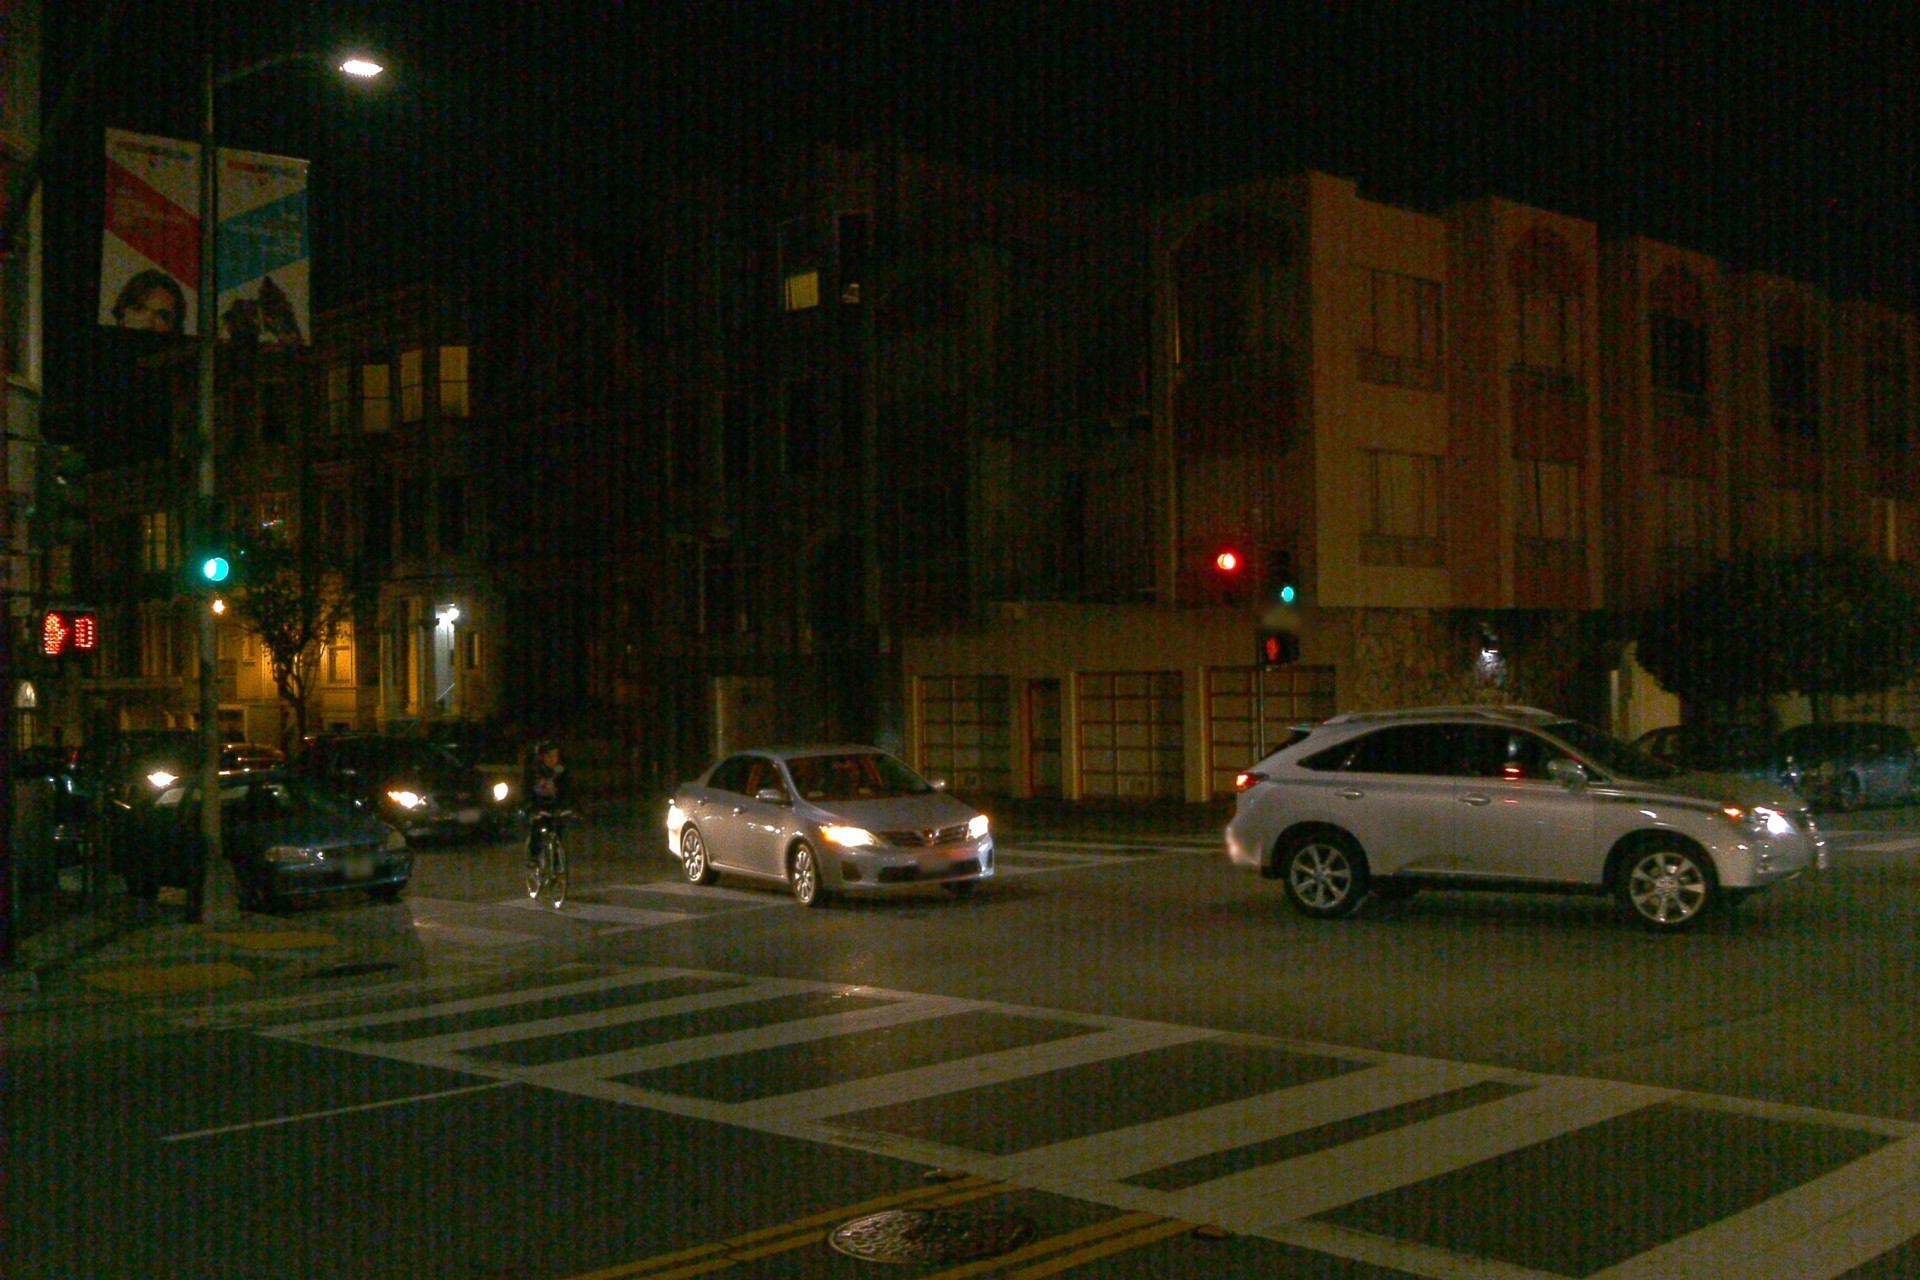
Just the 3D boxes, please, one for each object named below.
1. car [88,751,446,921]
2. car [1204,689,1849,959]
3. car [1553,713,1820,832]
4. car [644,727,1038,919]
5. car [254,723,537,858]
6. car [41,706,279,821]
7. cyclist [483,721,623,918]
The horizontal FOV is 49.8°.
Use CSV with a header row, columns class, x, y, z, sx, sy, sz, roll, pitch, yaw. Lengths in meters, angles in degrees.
class,x,y,z,sx,sy,sz,roll,pitch,yaw
car,-7.499,2.014,22.147,1.946,1.350,4.278,1,0,-44
car,4.586,1.367,16.941,4.618,1.760,2.137,1,0,33
car,10.607,1.860,29.967,1.967,1.430,4.633,1,0,42
car,-1.324,1.717,20.648,2.122,1.450,4.466,1,0,-30
car,-7.895,2.006,28.634,2.021,1.480,4.495,1,0,-41
car,-13.224,1.967,34.007,2.128,1.560,4.553,1,0,-43
cyclist,-4.021,1.718,20.331,0.770,1.760,1.753,1,0,-31
